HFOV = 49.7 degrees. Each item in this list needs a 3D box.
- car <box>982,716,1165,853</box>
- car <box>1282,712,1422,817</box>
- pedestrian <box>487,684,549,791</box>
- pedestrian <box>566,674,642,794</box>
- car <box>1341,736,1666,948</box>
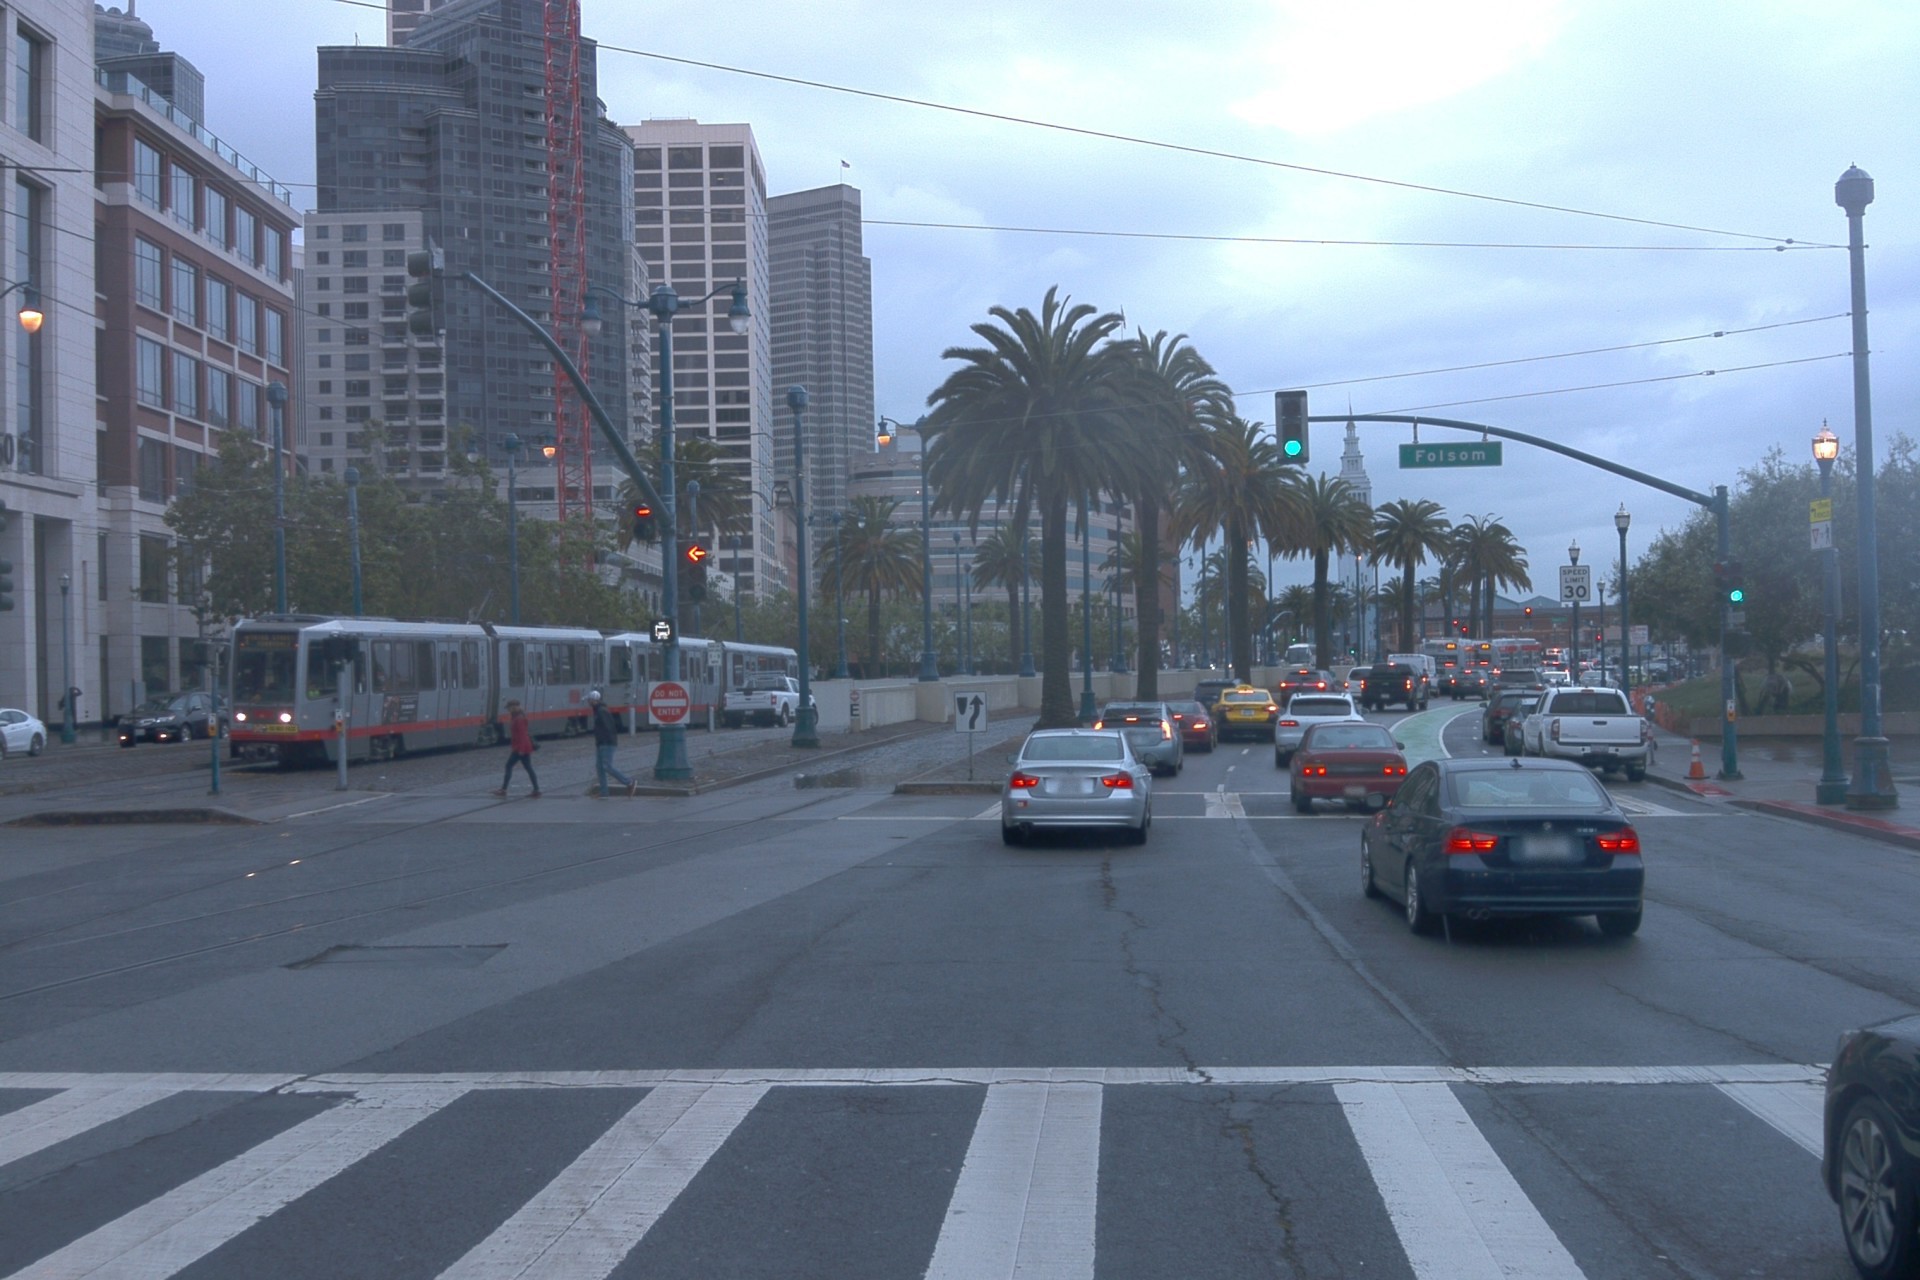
[{"bbox_3d":[1.570,1.796,26.844,2.066,1.510,4.627,0,-1,7],"label":"car"},{"bbox_3d":[6.029,1.880,32.266,1.923,1.450,3.945,0,-1,8],"label":"car"},{"bbox_3d":[-7.451,1.639,34.987,0.991,1.770,0.825,0,-1,-9],"label":"pedestrian"},{"bbox_3d":[-6.020,1.575,35.034,1.182,2.000,0.824,0,-1,-15],"label":"pedestrian"},{"bbox_3d":[4.484,1.617,17.774,1.869,1.450,4.344,0,-1,3],"label":"car"}]
